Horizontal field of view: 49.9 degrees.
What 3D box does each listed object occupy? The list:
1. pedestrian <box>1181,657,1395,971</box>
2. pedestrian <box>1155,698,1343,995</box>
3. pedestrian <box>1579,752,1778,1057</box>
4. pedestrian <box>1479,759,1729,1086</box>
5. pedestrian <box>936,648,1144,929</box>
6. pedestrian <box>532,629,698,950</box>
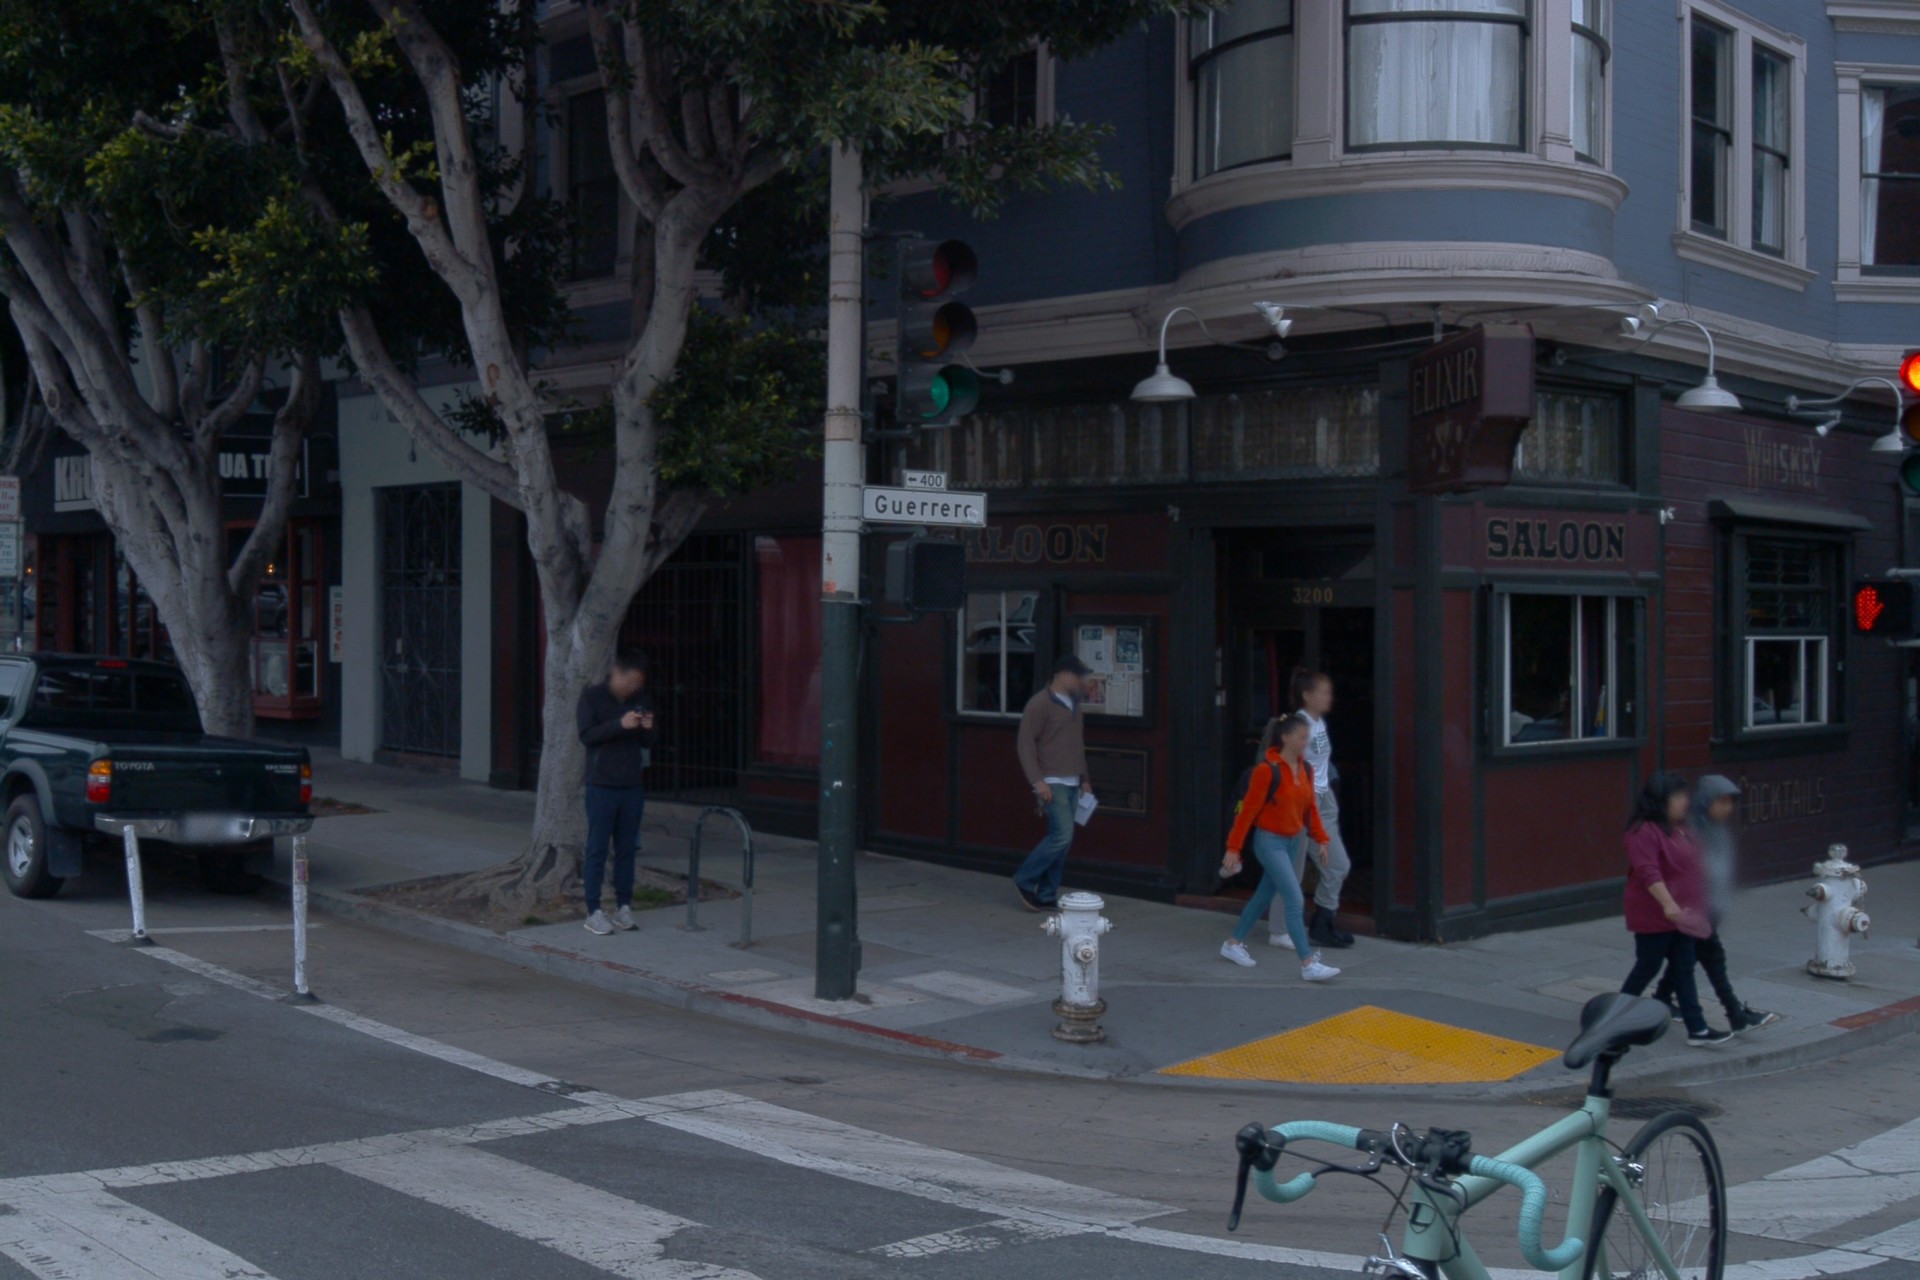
[{"bbox_3d":[2.178,1.102,13.718,1.024,1.960,0.981,1,1,44],"label":"pedestrian"},{"bbox_3d":[1.803,1.252,12.916,0.807,1.730,0.836,-1,1,-40],"label":"pedestrian"},{"bbox_3d":[4.062,1.452,11.674,0.801,1.570,0.847,1,1,41],"label":"pedestrian"},{"bbox_3d":[3.517,1.495,11.299,0.881,1.600,0.977,-1,1,-41],"label":"pedestrian"},{"bbox_3d":[0.587,1.015,14.857,1.091,1.900,1.129,0,1,31],"label":"pedestrian"},{"bbox_3d":[-2.275,0.943,13.628,0.802,2.030,0.731,-1,1,-43],"label":"pedestrian"}]
